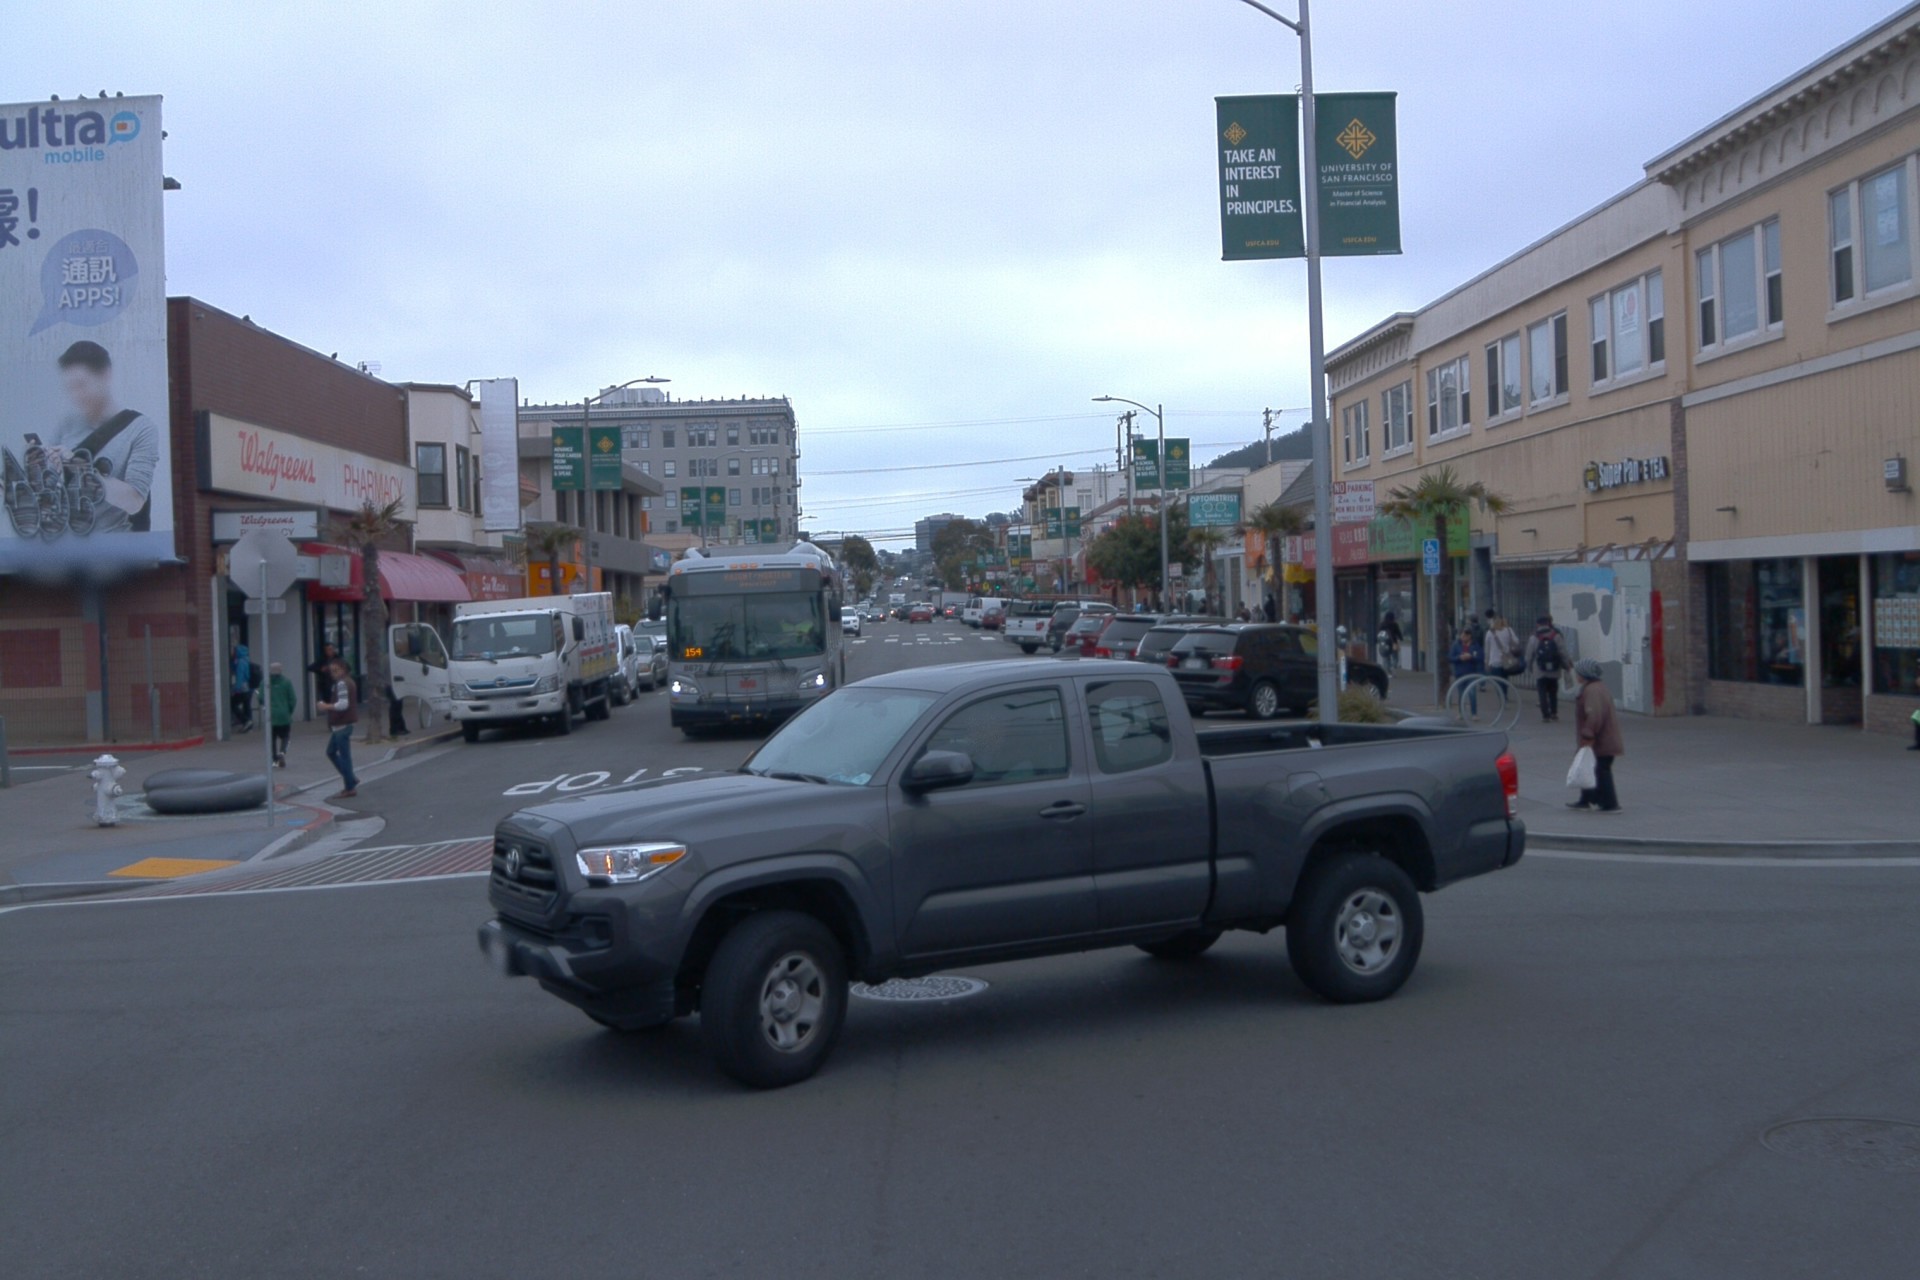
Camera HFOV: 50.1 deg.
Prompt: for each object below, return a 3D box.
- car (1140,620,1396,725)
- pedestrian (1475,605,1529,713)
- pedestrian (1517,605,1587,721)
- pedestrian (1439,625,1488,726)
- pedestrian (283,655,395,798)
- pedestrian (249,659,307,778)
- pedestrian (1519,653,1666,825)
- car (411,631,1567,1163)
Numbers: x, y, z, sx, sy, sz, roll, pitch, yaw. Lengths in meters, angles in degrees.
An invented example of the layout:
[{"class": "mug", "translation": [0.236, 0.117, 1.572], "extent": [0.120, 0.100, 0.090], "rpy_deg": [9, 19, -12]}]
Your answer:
[{"class": "car", "translation": [5.564, 0.523, 36.894], "extent": [4.510, 1.740, 2.044], "rpy_deg": [-1, 1, -39]}, {"class": "pedestrian", "translation": [9.299, 0.321, 35.293], "extent": [0.711, 1.824, 0.916], "rpy_deg": [0, 1, 2]}, {"class": "pedestrian", "translation": [9.164, 0.343, 31.879], "extent": [0.925, 1.770, 0.948], "rpy_deg": [0, 1, 9]}, {"class": "pedestrian", "translation": [8.099, 0.560, 33.060], "extent": [0.749, 1.598, 0.776], "rpy_deg": [0, 1, 15]}, {"class": "pedestrian", "translation": [-8.138, 1.118, 26.993], "extent": [1.261, 1.820, 0.885], "rpy_deg": [0, 1, -7]}, {"class": "pedestrian", "translation": [-10.203, 1.156, 30.780], "extent": [0.765, 1.713, 1.105], "rpy_deg": [-1, 1, -16]}, {"class": "pedestrian", "translation": [5.746, 0.868, 18.674], "extent": [1.064, 1.477, 0.834], "rpy_deg": [-1, 1, -41]}, {"class": "car", "translation": [0.273, 0.999, 10.270], "extent": [5.450, 2.008, 2.070], "rpy_deg": [-1, 1, -29]}]
